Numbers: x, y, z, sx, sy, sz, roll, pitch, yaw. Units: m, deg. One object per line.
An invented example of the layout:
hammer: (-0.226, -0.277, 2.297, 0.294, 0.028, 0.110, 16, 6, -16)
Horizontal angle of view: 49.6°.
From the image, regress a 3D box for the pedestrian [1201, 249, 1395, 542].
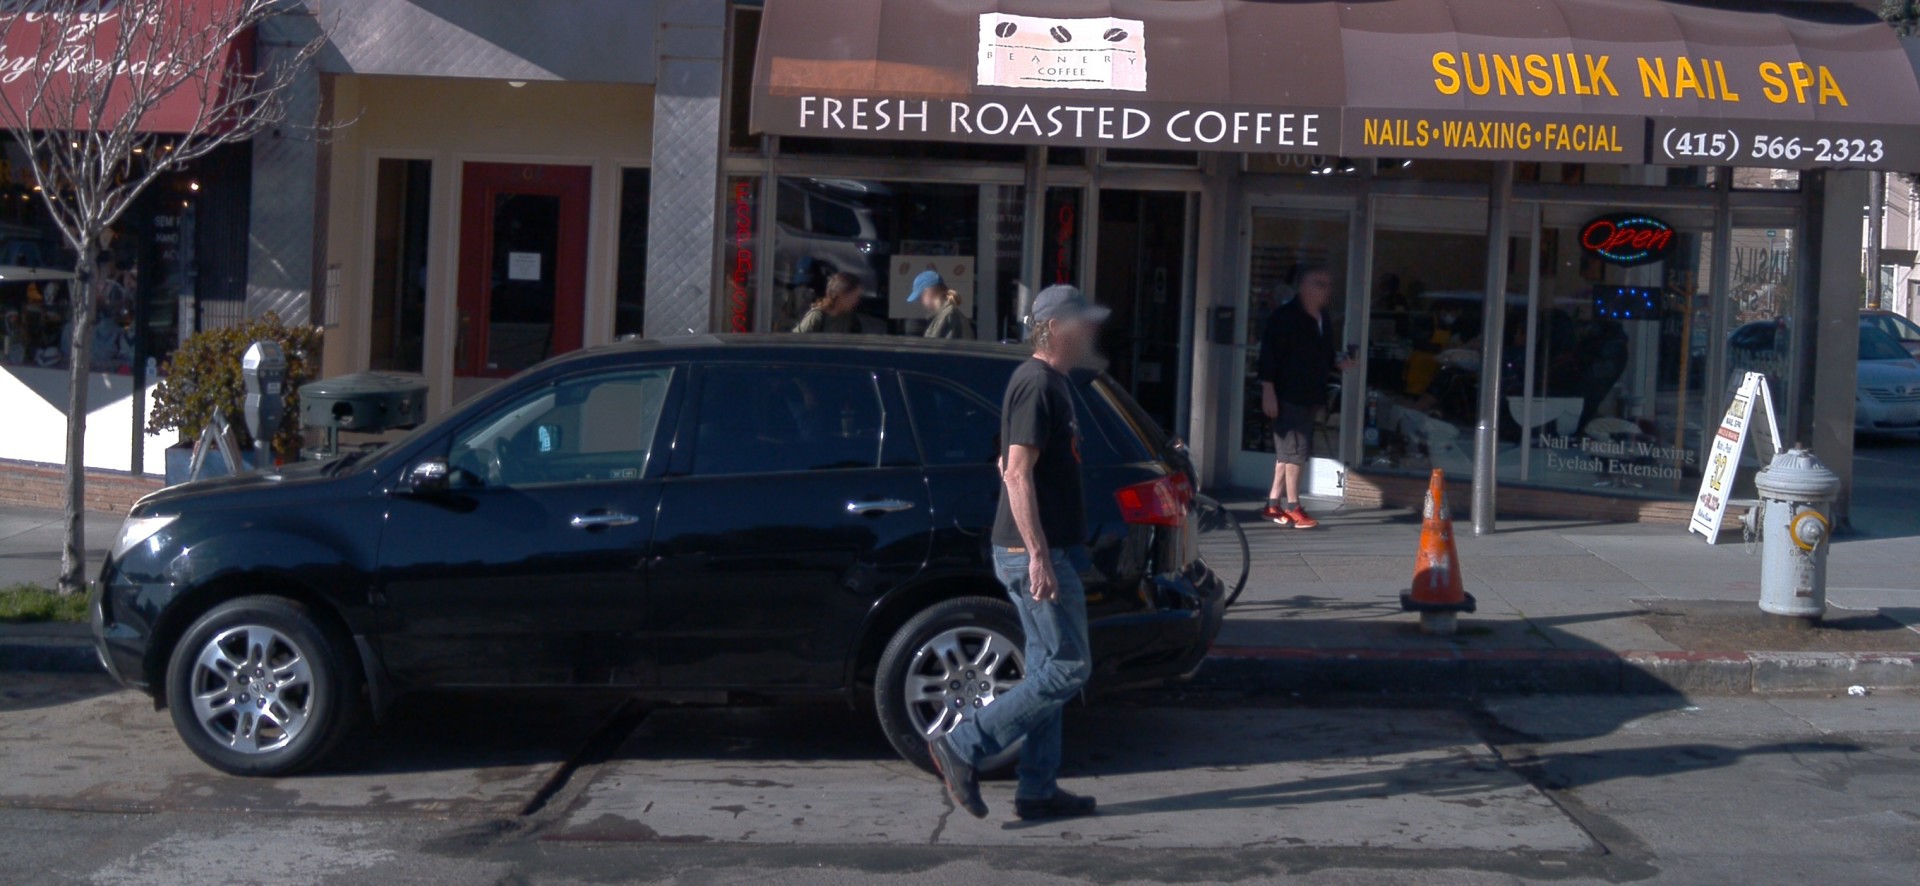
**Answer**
pedestrian: (2.310, -0.367, 14.163, 0.927, 1.876, 0.941, 3, 3, 39)

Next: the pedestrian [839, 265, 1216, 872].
pedestrian: (0.210, 0.384, 7.470, 1.195, 2.006, 0.874, 0, 2, -9)

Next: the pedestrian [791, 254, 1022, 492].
pedestrian: (-0.332, -0.491, 13.614, 1.340, 1.457, 0.881, 1, 3, 9)

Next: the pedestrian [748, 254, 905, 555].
pedestrian: (-0.870, -0.287, 13.457, 0.688, 1.856, 0.750, -1, 2, -39)
